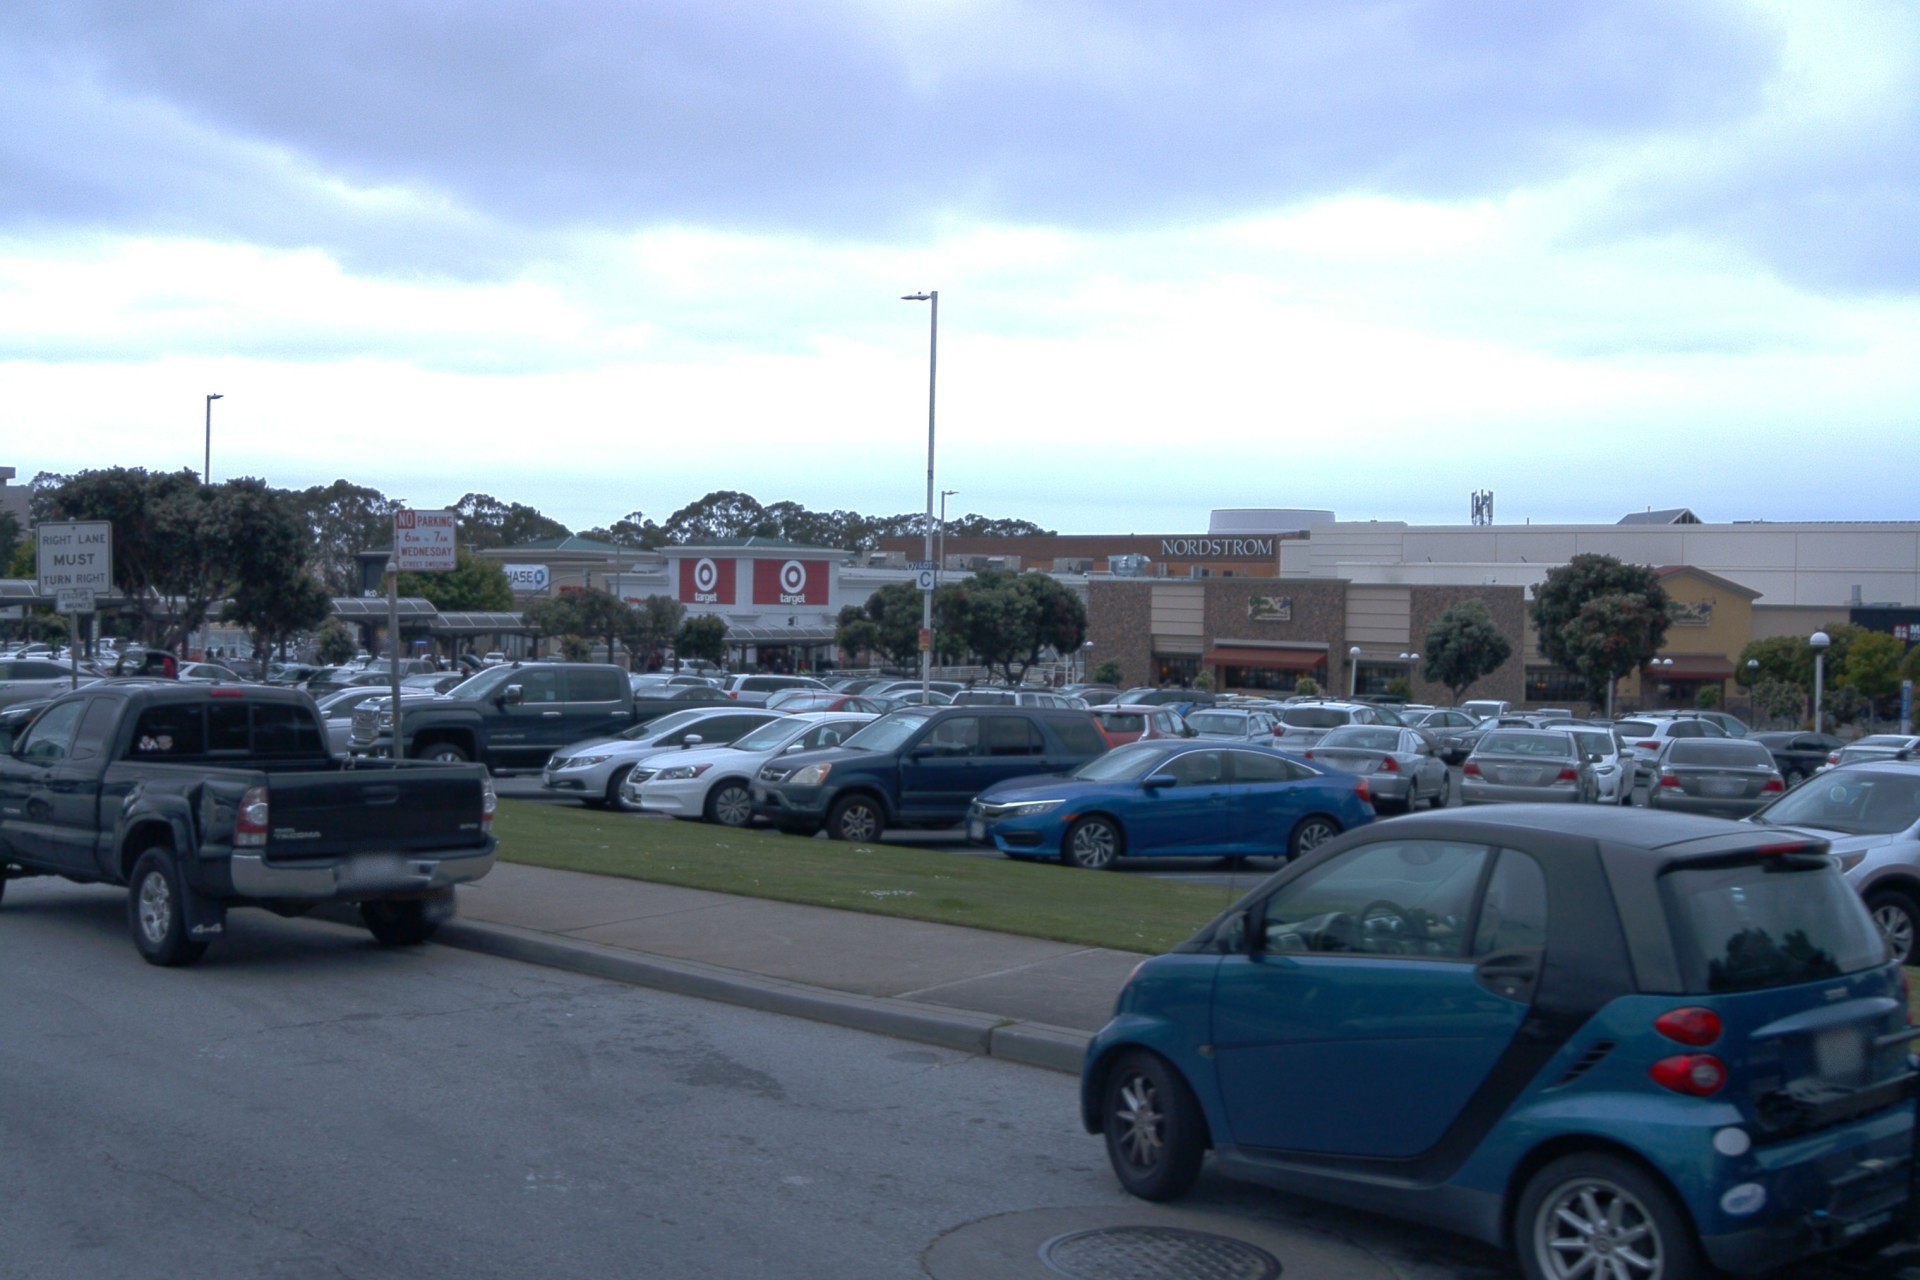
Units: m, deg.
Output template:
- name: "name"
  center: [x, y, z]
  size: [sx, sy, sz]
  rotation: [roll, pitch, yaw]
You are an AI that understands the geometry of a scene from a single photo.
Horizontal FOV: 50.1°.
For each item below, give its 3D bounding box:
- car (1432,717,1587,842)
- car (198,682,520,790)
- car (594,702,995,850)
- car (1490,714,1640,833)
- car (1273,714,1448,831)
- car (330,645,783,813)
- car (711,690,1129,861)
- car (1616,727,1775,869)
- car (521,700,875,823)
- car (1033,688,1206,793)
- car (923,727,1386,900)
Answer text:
- name: "car"
  center: [8.602, 2.099, 31.965]
  size: [1.960, 1.600, 4.174]
  rotation: [0, 1, 20]
- name: "car"
  center: [-9.961, 1.533, 34.079]
  size: [4.869, 1.560, 2.109]
  rotation: [0, 0, -24]
- name: "car"
  center: [-2.128, 1.685, 26.552]
  size: [4.683, 1.590, 2.135]
  rotation: [0, 0, -26]
- name: "car"
  center: [11.042, 2.354, 37.328]
  size: [2.211, 1.798, 4.387]
  rotation: [0, 1, 22]
- name: "car"
  center: [6.683, 2.122, 33.958]
  size: [1.948, 1.600, 4.234]
  rotation: [0, 1, 24]
- name: "car"
  center: [-5.940, 1.212, 30.489]
  size: [6.031, 2.200, 2.650]
  rotation: [0, 0, -30]
- name: "car"
  center: [-0.465, 1.526, 24.428]
  size: [4.405, 1.710, 2.256]
  rotation: [0, 0, -29]
- name: "car"
  center: [10.760, 2.245, 30.351]
  size: [1.994, 1.670, 4.591]
  rotation: [0, 1, 17]
- name: "car"
  center: [-3.672, 1.650, 28.833]
  size: [4.462, 1.449, 2.124]
  rotation: [0, 0, -26]
- name: "car"
  center: [2.939, 1.758, 37.042]
  size: [1.997, 1.630, 4.069]
  rotation: [0, 1, 22]
- name: "car"
  center: [2.144, 1.837, 22.737]
  size: [4.634, 1.550, 2.129]
  rotation: [0, 0, -24]
